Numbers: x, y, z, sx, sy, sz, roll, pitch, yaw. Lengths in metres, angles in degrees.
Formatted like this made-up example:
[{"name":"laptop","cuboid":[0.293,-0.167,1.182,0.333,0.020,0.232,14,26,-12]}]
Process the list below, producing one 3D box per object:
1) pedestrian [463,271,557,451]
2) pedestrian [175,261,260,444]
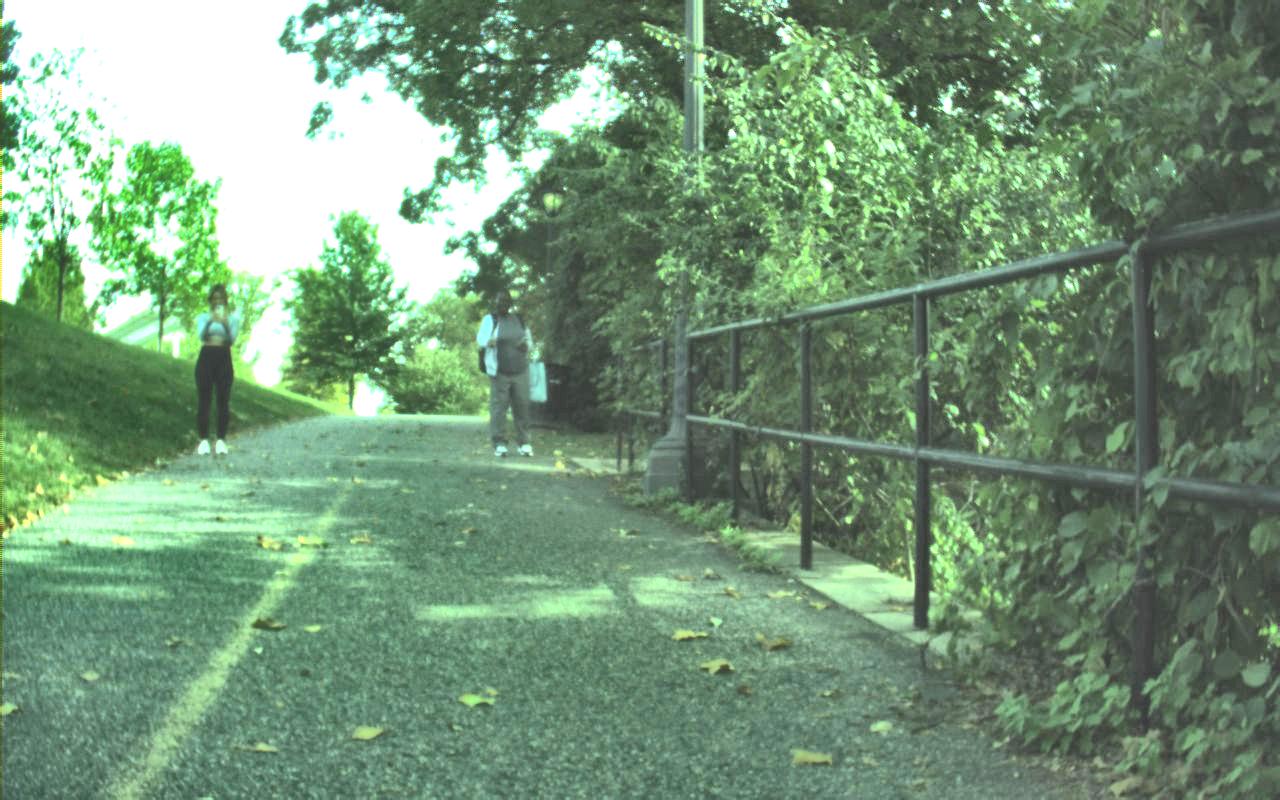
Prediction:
[{"name":"pedestrian","cuboid":[-1.327,-0.385,12.682,0.844,1.750,0.833,0,0,-13]},{"name":"pedestrian","cuboid":[-3.965,-0.430,11.251,0.797,1.654,0.804,0,0,-18]}]
